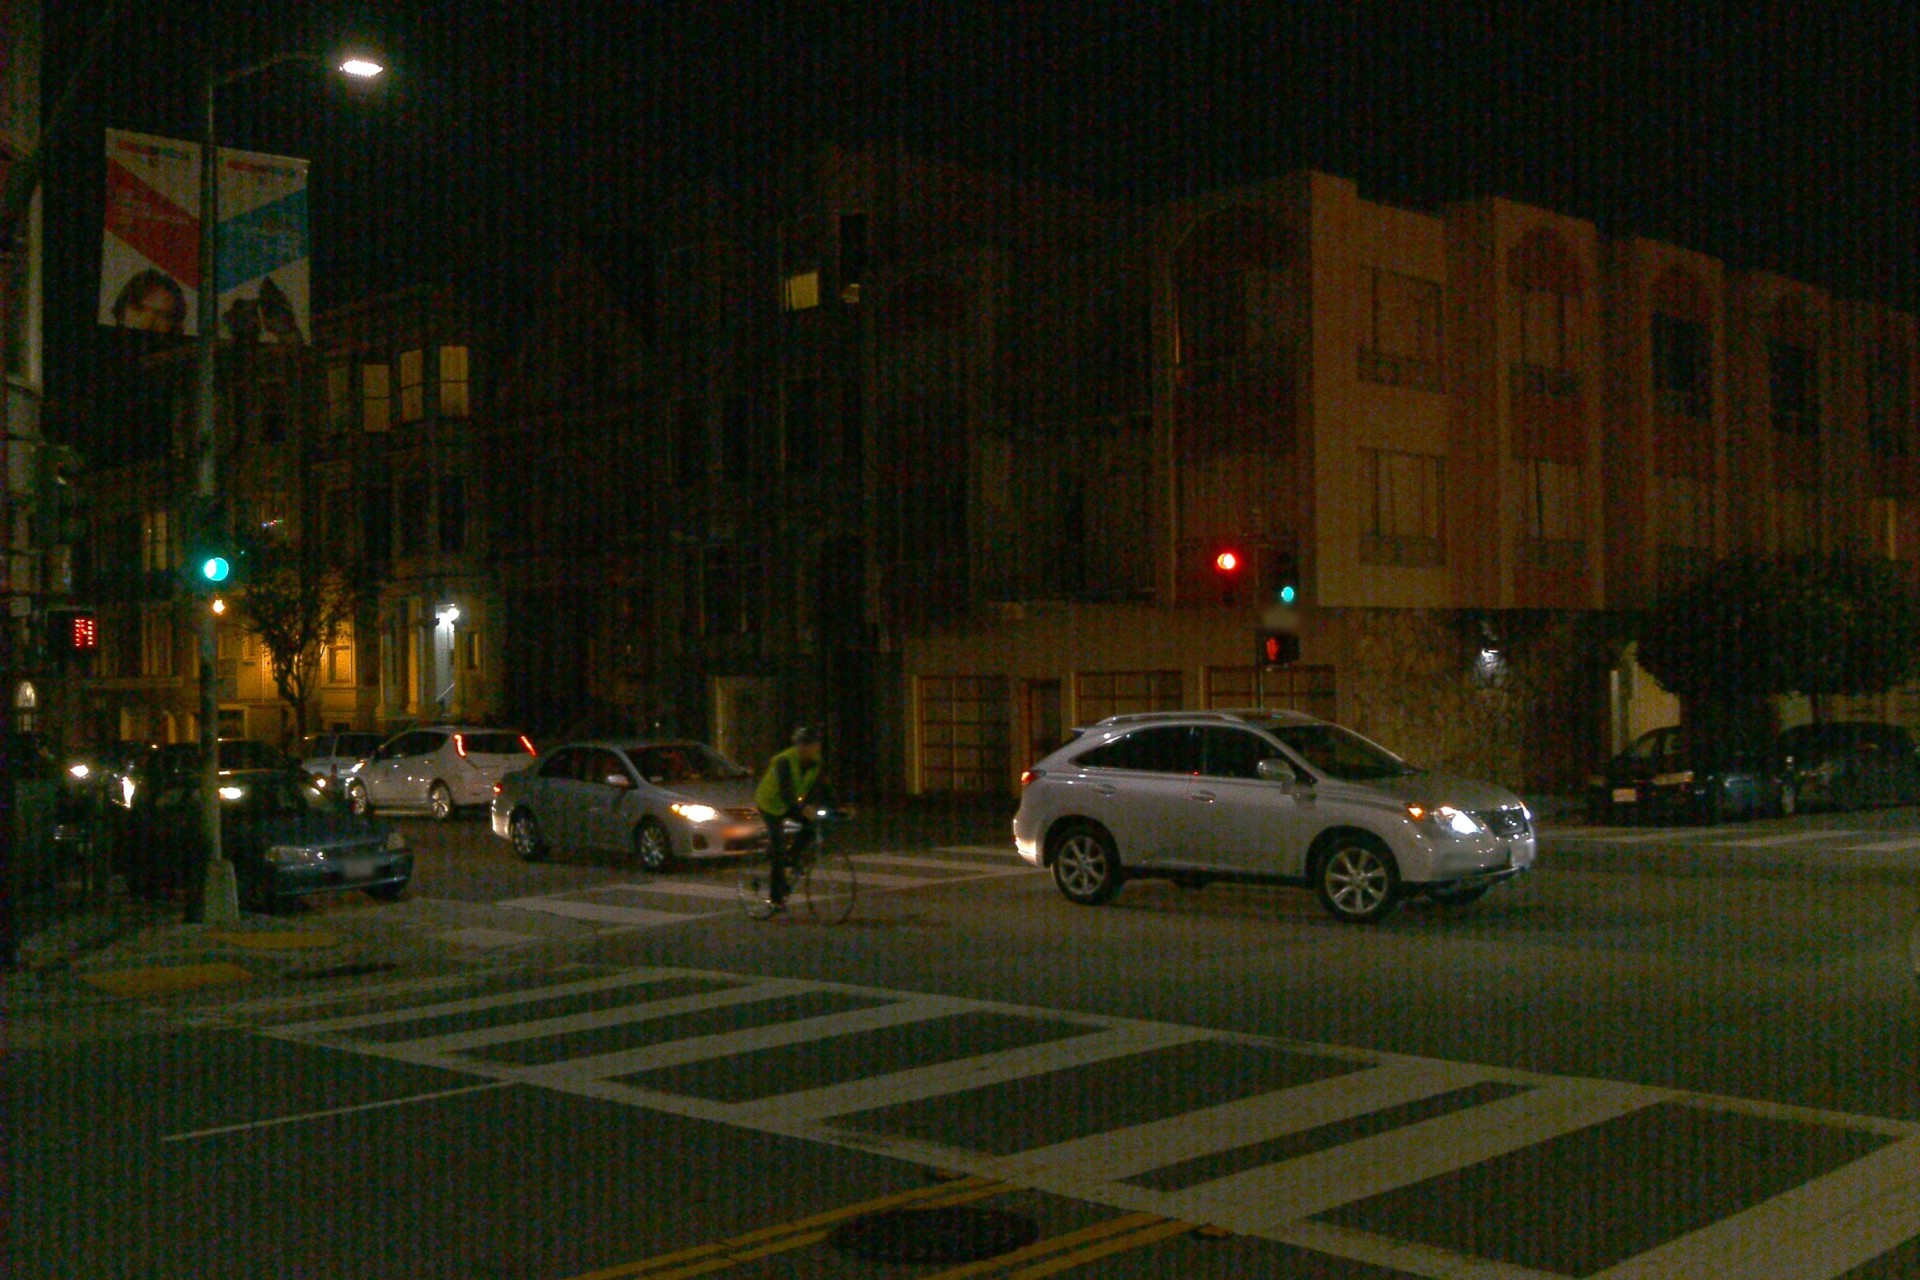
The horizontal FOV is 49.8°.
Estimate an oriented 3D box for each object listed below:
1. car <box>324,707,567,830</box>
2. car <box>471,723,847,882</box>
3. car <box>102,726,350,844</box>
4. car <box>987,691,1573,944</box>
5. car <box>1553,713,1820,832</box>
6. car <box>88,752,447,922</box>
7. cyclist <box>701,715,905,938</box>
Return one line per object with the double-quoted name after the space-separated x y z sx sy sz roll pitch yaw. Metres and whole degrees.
-8.661 2.083 34.575 1.960 1.720 4.390 1 0 -44 "car"
-3.604 1.812 24.199 2.125 1.450 4.459 1 0 -44 "car"
-11.602 2.207 32.487 2.021 1.480 4.494 1 0 -43 "car"
2.708 1.415 18.136 4.614 1.760 2.139 1 0 41 "car"
10.606 1.860 29.965 1.967 1.430 4.633 1 0 42 "car"
-7.499 2.022 22.146 1.946 1.350 4.278 1 0 -44 "car"
-1.385 1.572 17.956 0.771 1.750 1.769 1 0 -45 "cyclist"
